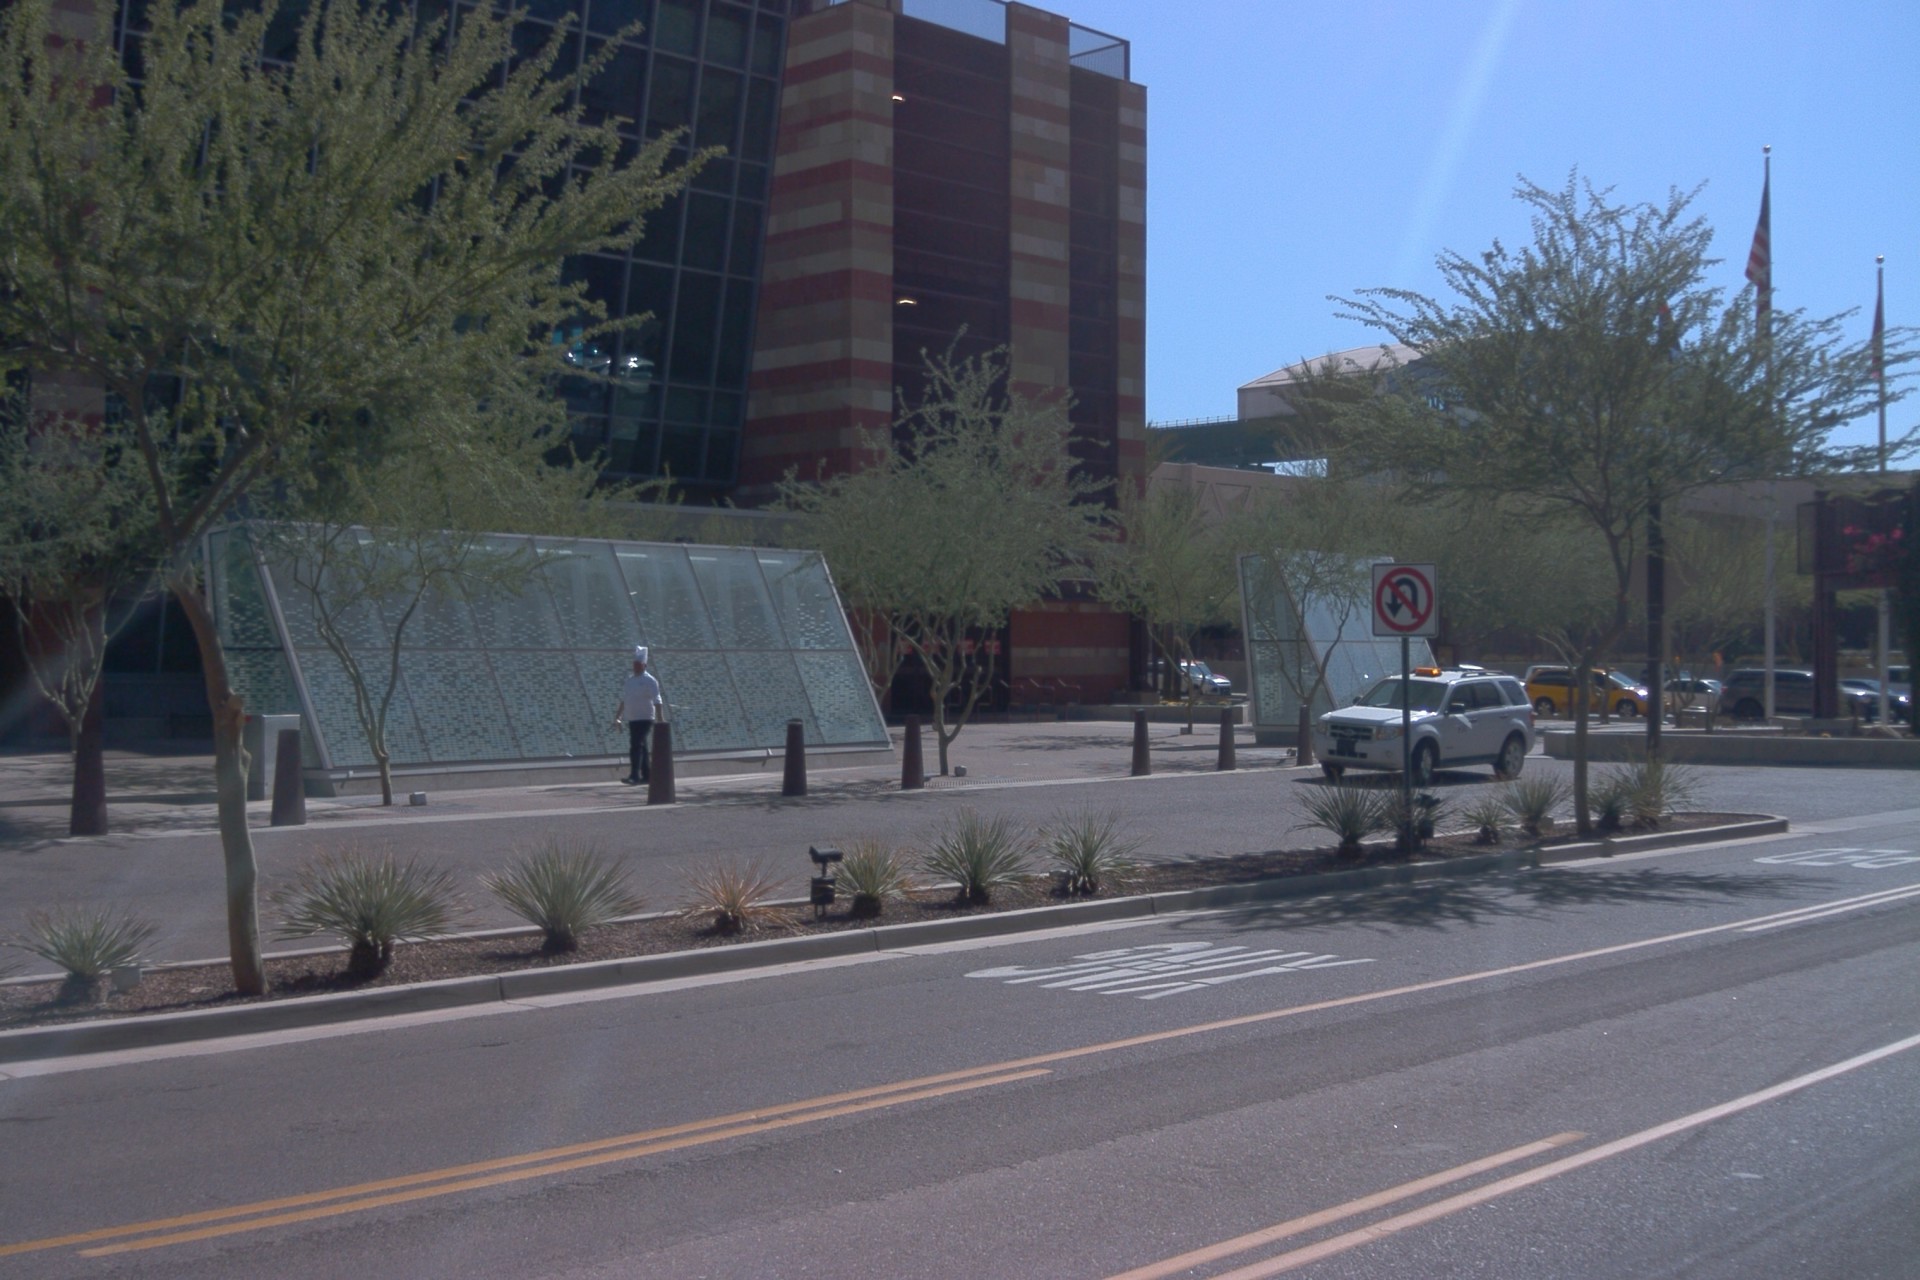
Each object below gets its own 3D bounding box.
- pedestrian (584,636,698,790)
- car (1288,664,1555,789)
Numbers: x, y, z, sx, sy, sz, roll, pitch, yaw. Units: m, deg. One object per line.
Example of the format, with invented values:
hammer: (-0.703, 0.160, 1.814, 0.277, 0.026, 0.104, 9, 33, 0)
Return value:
pedestrian: (-4.433, 0.992, 29.115, 1.038, 2.080, 1.122, 1, 0, 43)
car: (7.474, 1.326, 33.681, 2.067, 1.840, 4.530, 1, 0, 45)
